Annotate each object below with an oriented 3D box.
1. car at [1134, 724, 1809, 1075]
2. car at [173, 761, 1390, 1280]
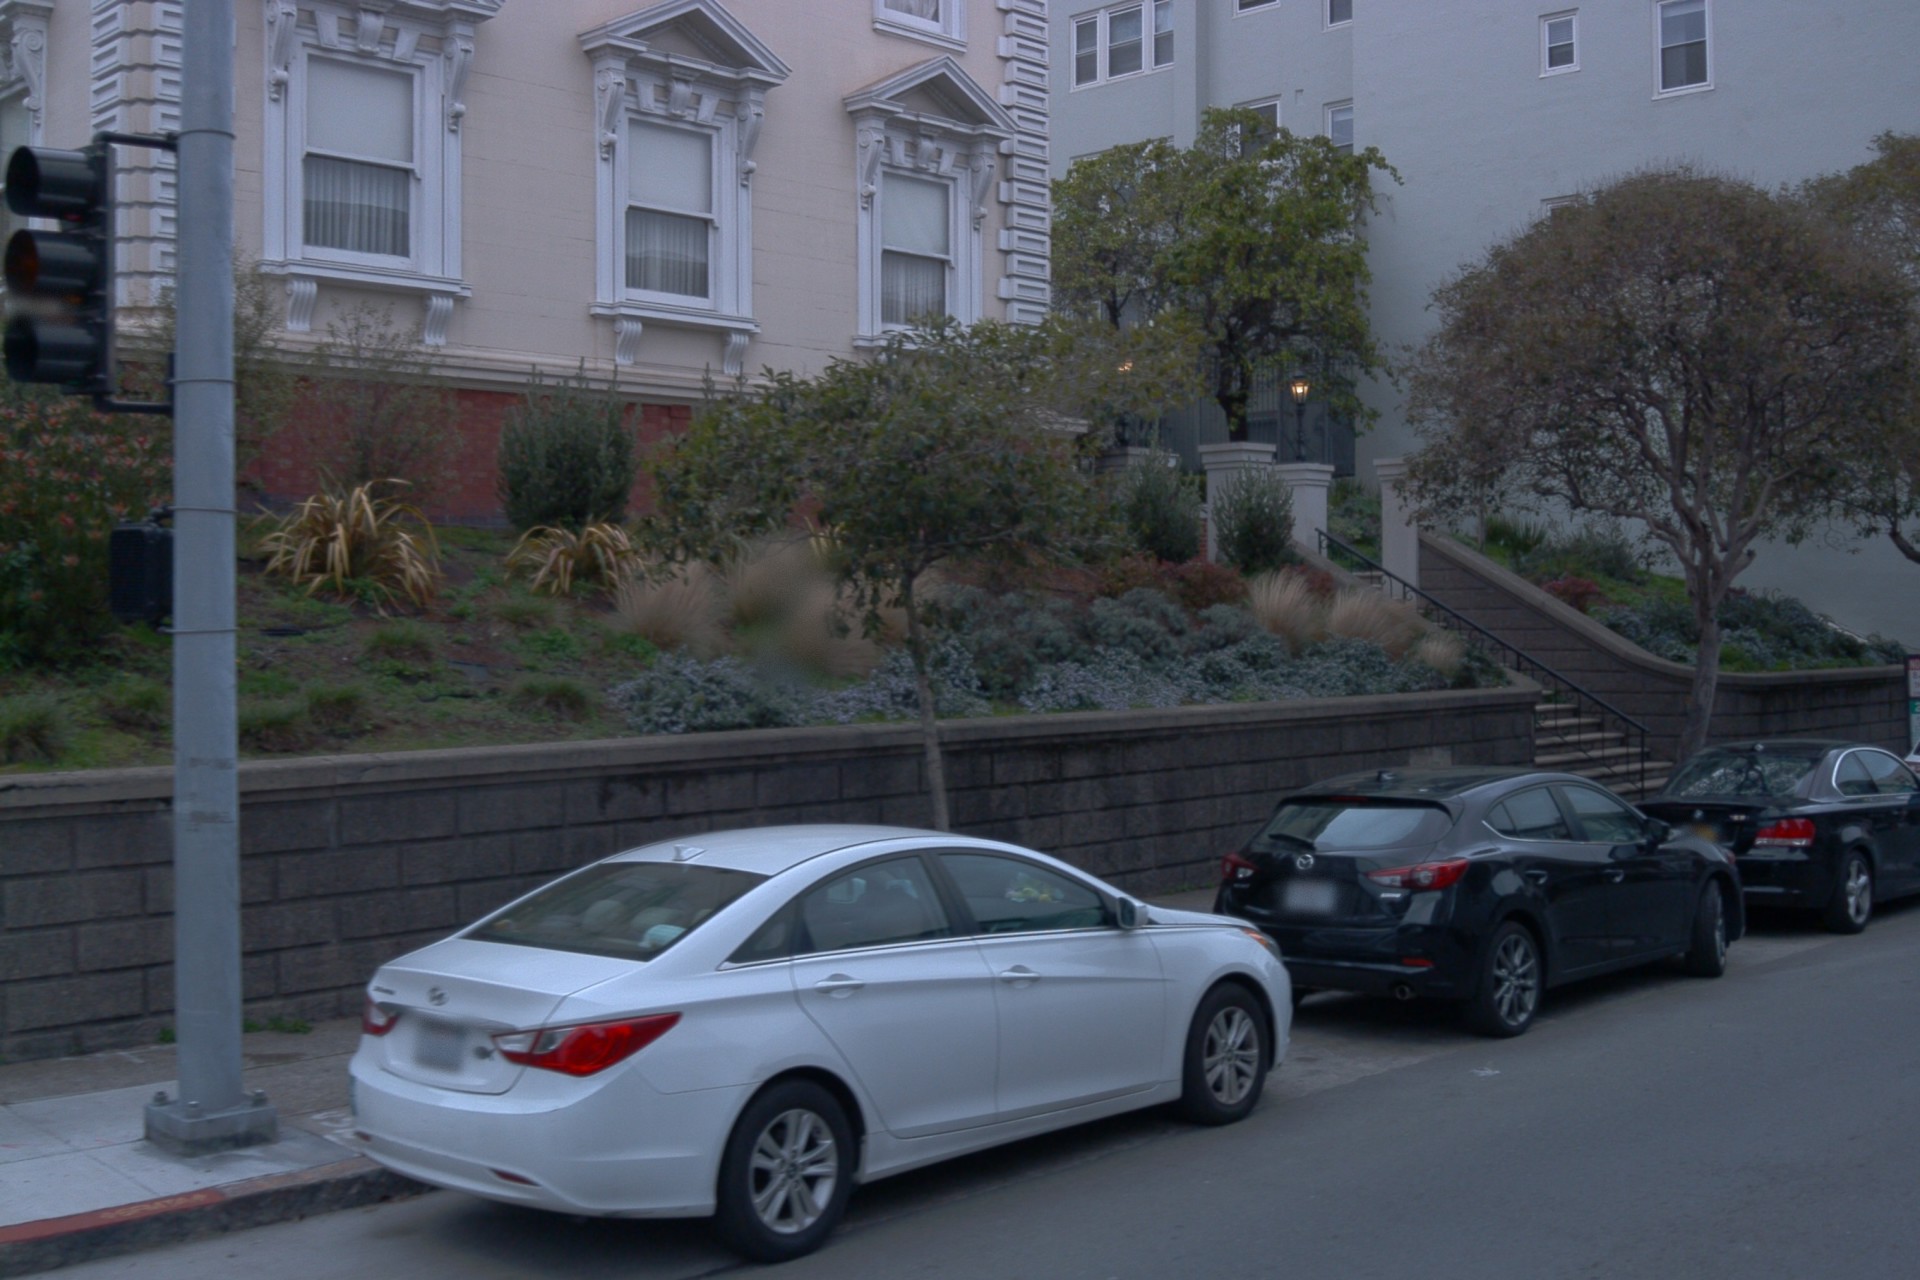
[{"bbox_3d":[3.383,1.426,12.949,2.121,1.540,4.664,1,1,43],"label":"car"},{"bbox_3d":[-0.452,1.509,8.888,2.233,1.600,5.039,1,1,43],"label":"car"}]
